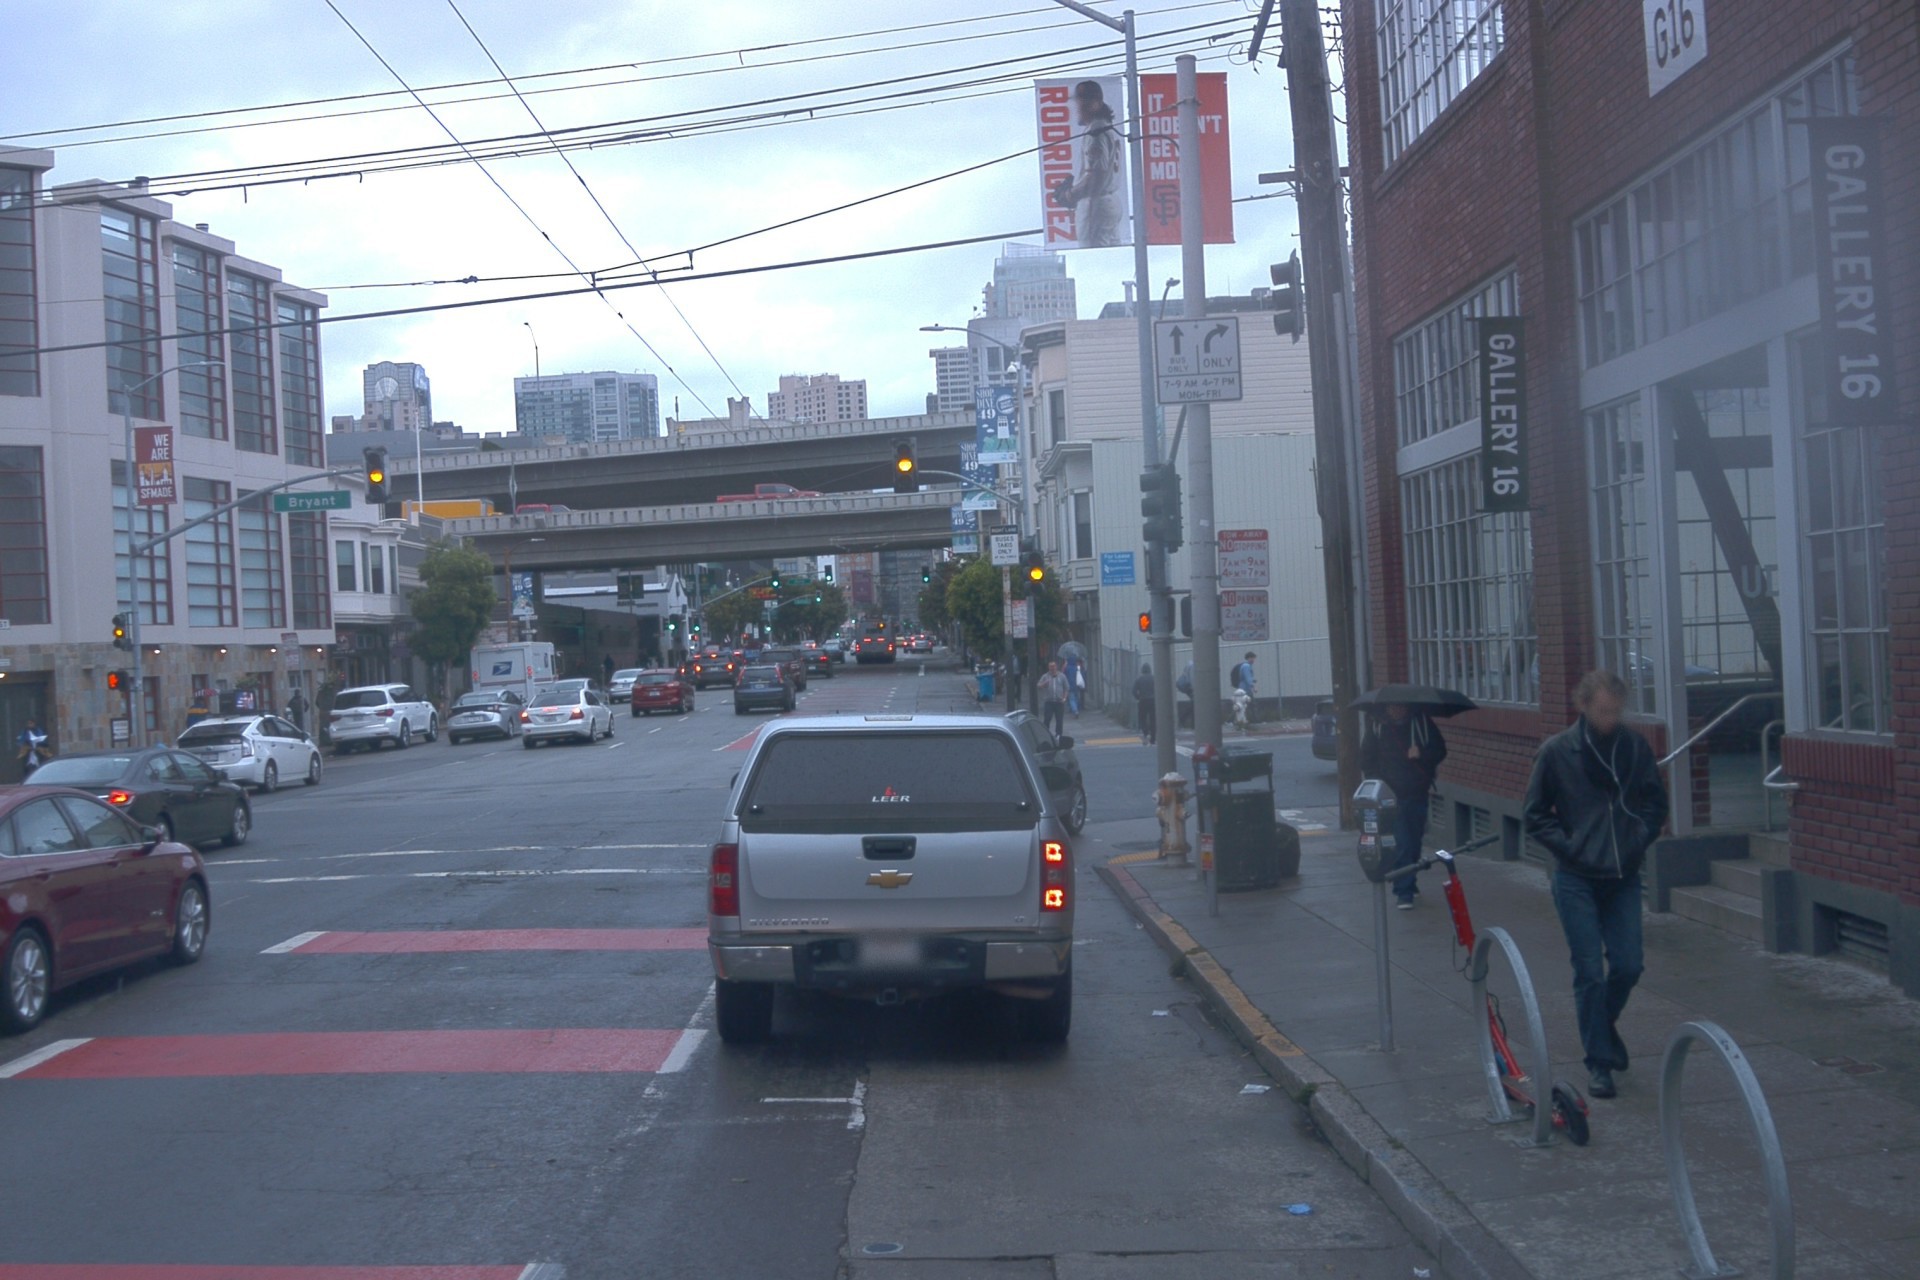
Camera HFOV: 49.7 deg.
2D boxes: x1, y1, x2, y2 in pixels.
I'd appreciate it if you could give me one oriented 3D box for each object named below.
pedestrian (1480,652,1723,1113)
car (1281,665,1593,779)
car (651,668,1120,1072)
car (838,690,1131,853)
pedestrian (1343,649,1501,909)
[{"bbox_3d":[2.728,0.994,8.910,0.749,1.870,0.954,0,-1,1],"label":"pedestrian"},{"bbox_3d":[7.055,1.160,30.561,4.377,1.560,1.889,0,-1,-31],"label":"car"},{"bbox_3d":[-0.389,1.225,13.470,2.411,2.070,5.547,0,-1,0],"label":"car"},{"bbox_3d":[0.407,1.445,24.236,2.024,1.670,4.394,0,-1,21],"label":"car"},{"bbox_3d":[3.429,1.009,15.487,1.015,1.870,1.039,0,-1,5],"label":"pedestrian"}]
